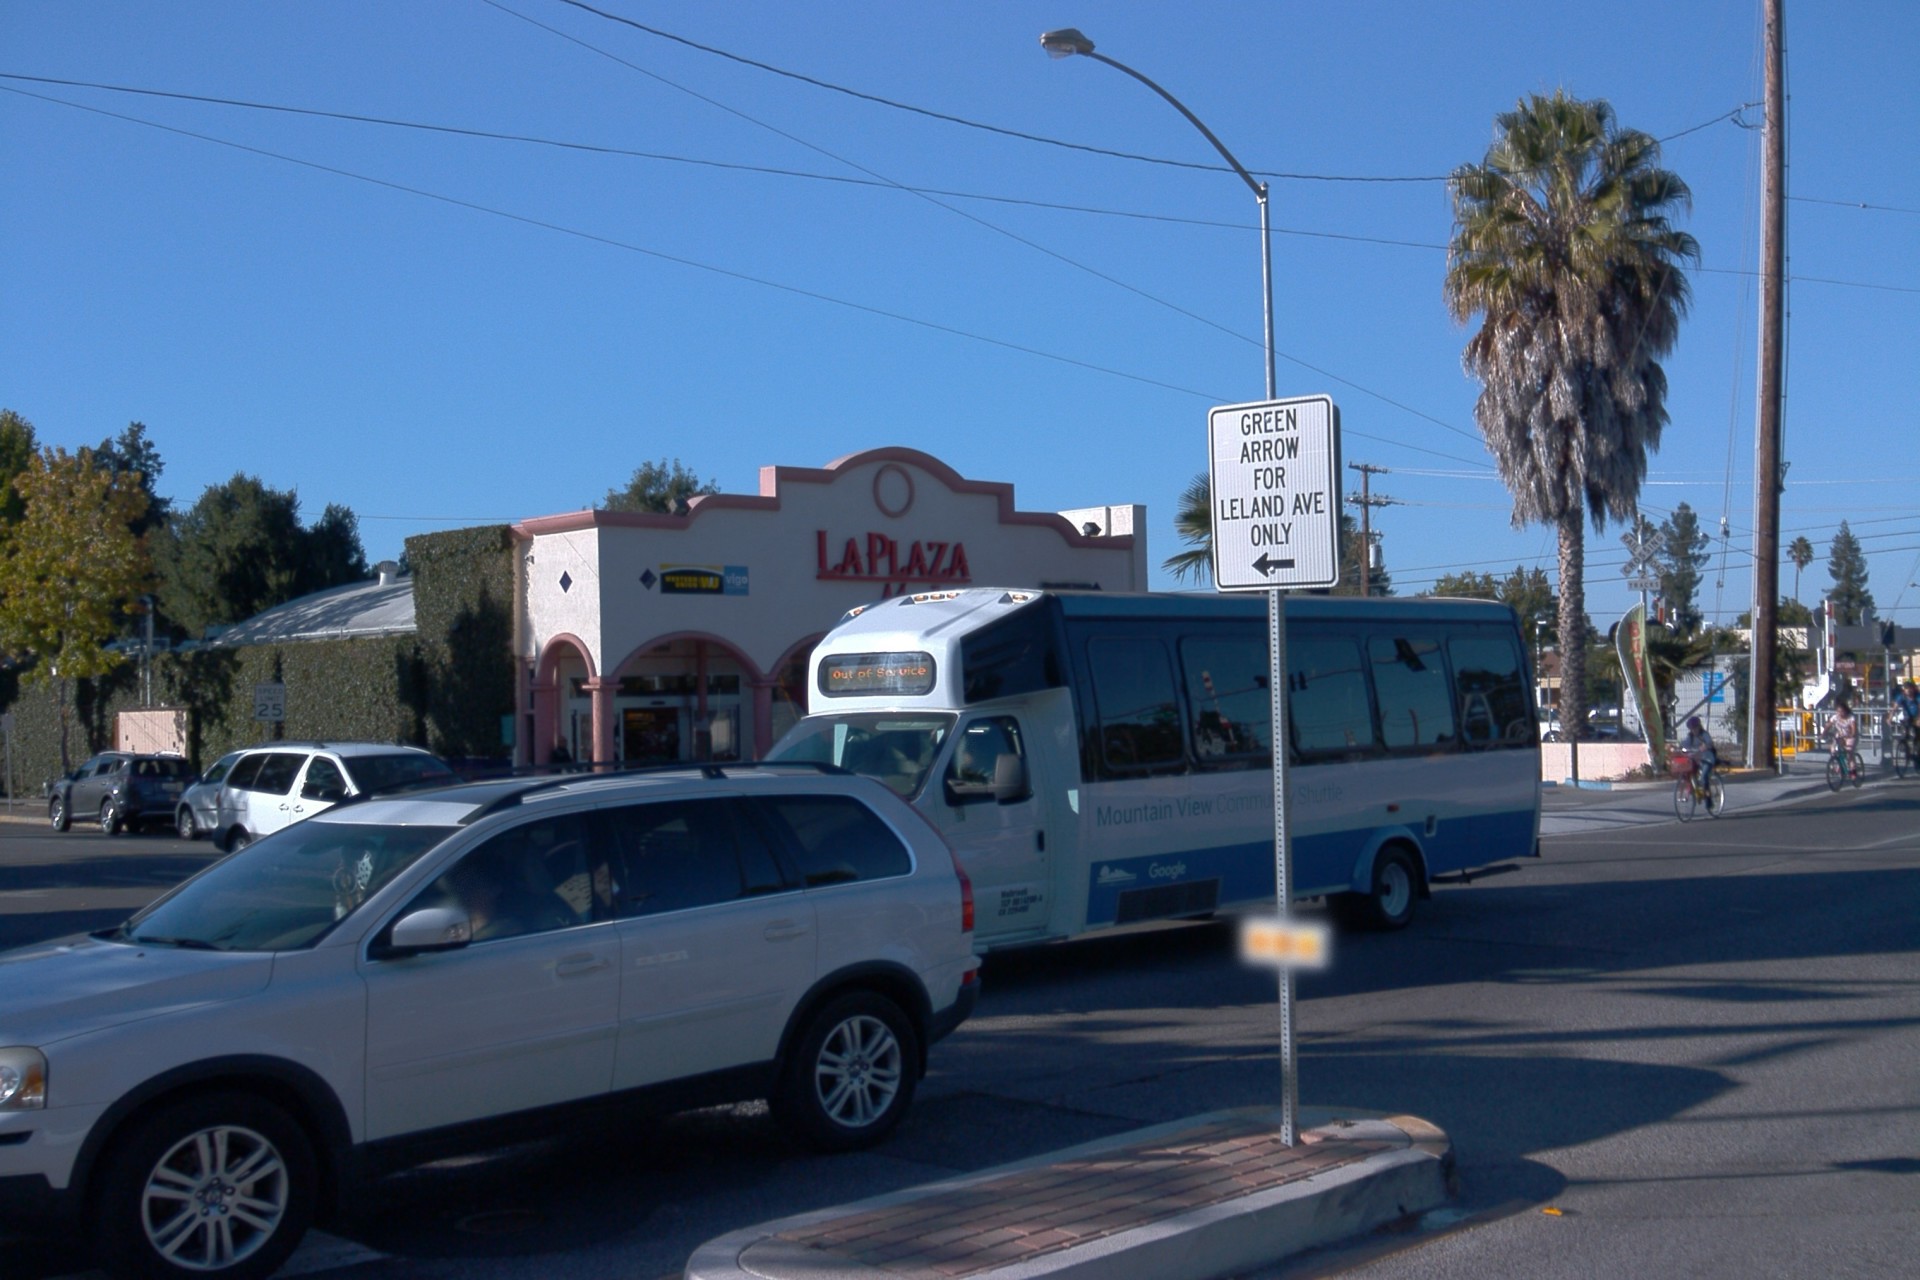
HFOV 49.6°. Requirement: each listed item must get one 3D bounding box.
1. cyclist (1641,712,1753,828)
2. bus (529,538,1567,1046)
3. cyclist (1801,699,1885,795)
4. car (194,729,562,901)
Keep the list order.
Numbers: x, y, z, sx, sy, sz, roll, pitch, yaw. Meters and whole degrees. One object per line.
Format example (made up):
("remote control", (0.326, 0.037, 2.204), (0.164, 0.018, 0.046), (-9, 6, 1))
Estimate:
("cyclist", (10.600, 1.841, 29.841), (1.931, 1.570, 0.742), (1, -1, -45))
("bus", (1.289, 0.939, 16.777), (3.007, 3.030, 9.254), (0, -1, 44))
("cyclist", (14.893, 1.790, 35.013), (0.767, 1.540, 1.749), (0, -1, 42))
("car", (-7.196, 2.032, 25.391), (4.949, 1.710, 2.120), (0, -1, 44))
